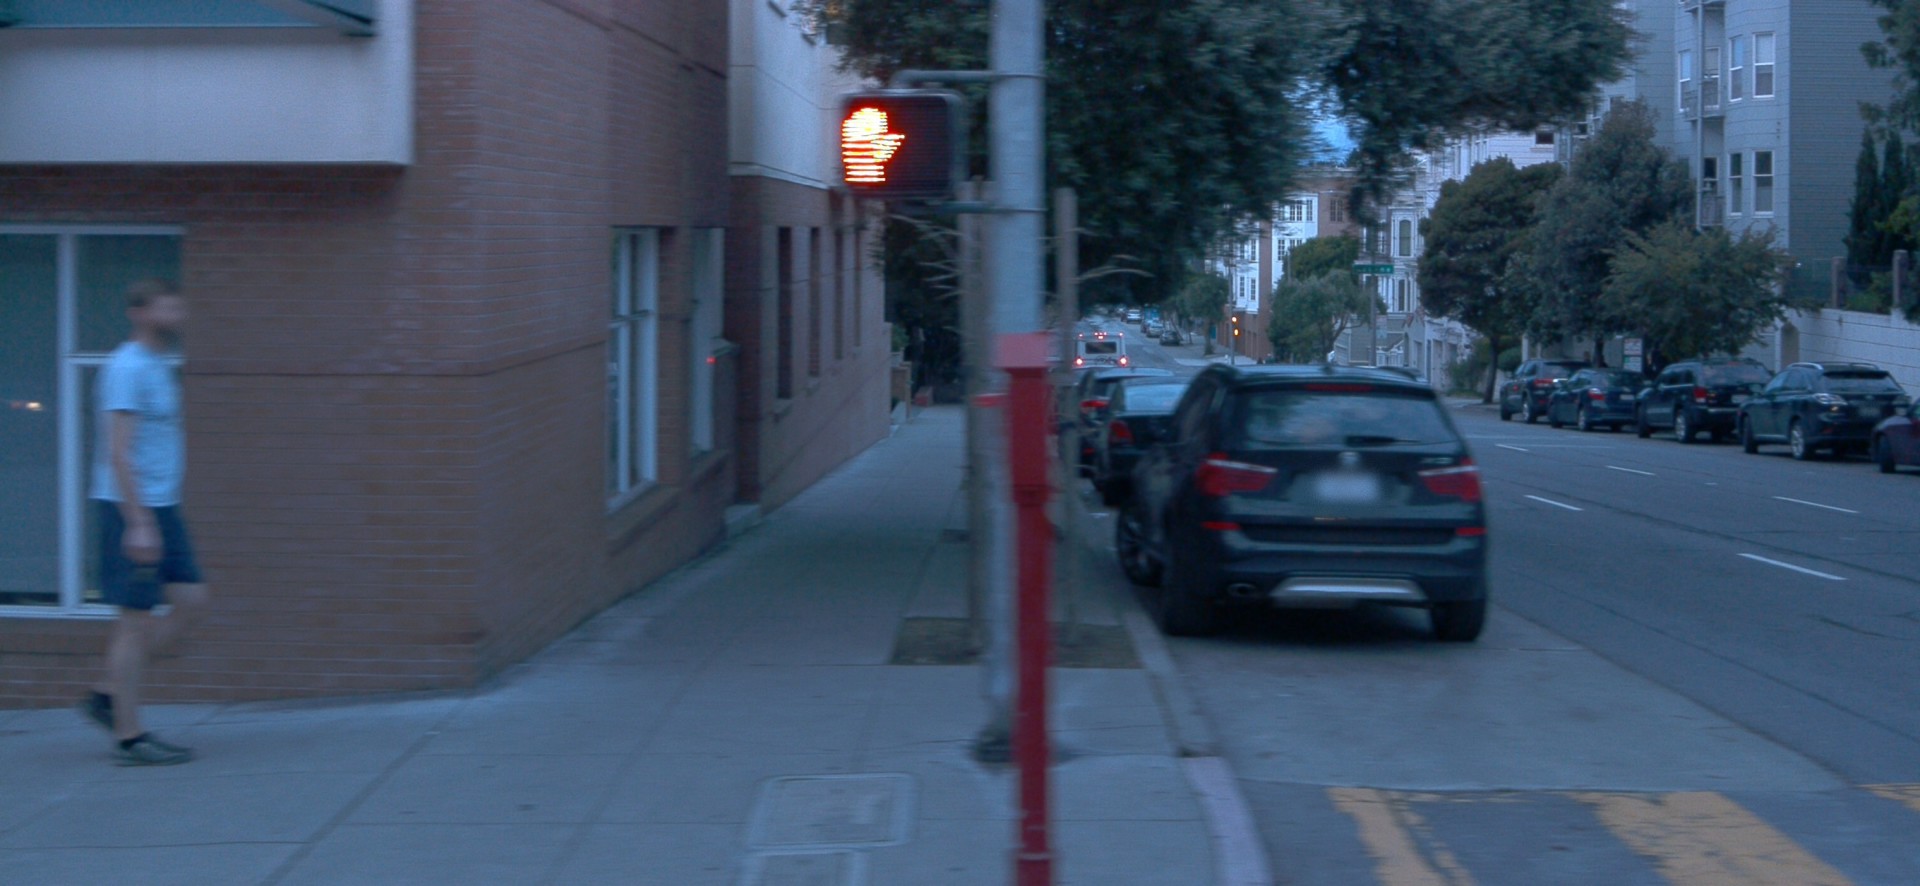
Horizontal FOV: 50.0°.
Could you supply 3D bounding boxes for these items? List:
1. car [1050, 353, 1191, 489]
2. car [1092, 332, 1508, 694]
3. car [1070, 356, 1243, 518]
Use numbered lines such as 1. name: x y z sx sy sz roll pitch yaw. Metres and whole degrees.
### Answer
1. car: 2.333 -0.391 30.823 1.837 1.643 3.992 0 5 1
2. car: 2.042 0.272 13.757 2.048 1.772 4.529 0 5 0
3. car: 2.319 -0.149 25.195 1.884 1.553 3.982 1 5 2
